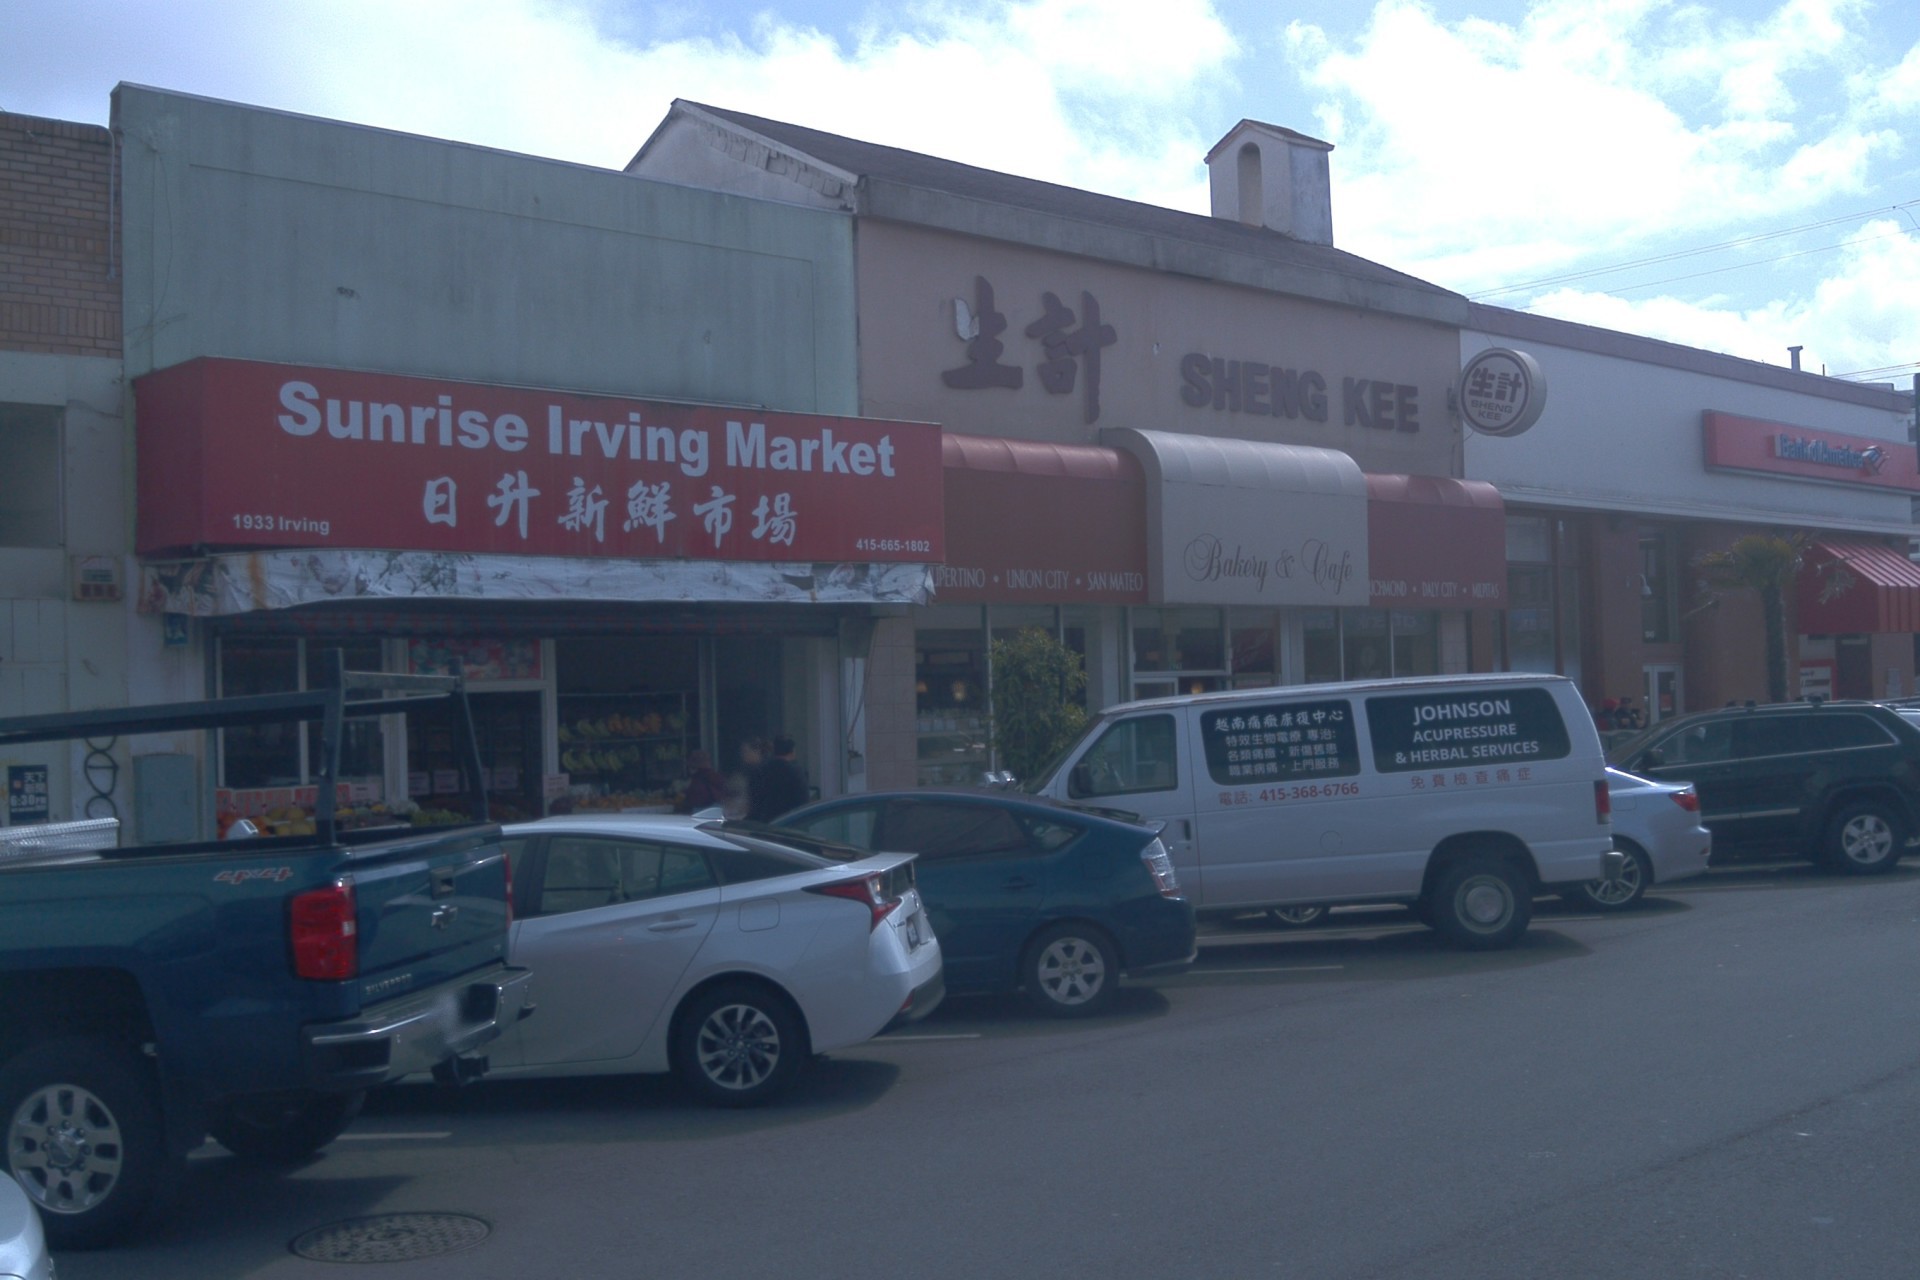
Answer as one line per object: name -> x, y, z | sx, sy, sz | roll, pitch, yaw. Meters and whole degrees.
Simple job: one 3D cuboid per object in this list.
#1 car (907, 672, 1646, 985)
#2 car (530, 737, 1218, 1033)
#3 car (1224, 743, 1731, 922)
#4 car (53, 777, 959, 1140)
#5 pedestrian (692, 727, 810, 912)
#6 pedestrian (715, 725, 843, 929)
car -> 2.398, 1.391, 16.516 | 5.387, 2.234, 2.514 | 0, 0, 3
car -> -0.495, 1.548, 13.783 | 4.223, 1.720, 2.045 | 0, 0, 1
car -> 4.579, 1.701, 18.954 | 4.252, 1.420, 2.017 | 0, 0, 4
car -> -2.222, 1.596, 11.091 | 4.256, 1.572, 2.095 | 0, 0, 4
pedestrian -> -1.921, 1.626, 19.103 | 0.780, 1.612, 0.747 | 0, 0, -44
pedestrian -> -1.616, 1.633, 18.498 | 0.787, 1.709, 0.894 | 0, 0, -37
